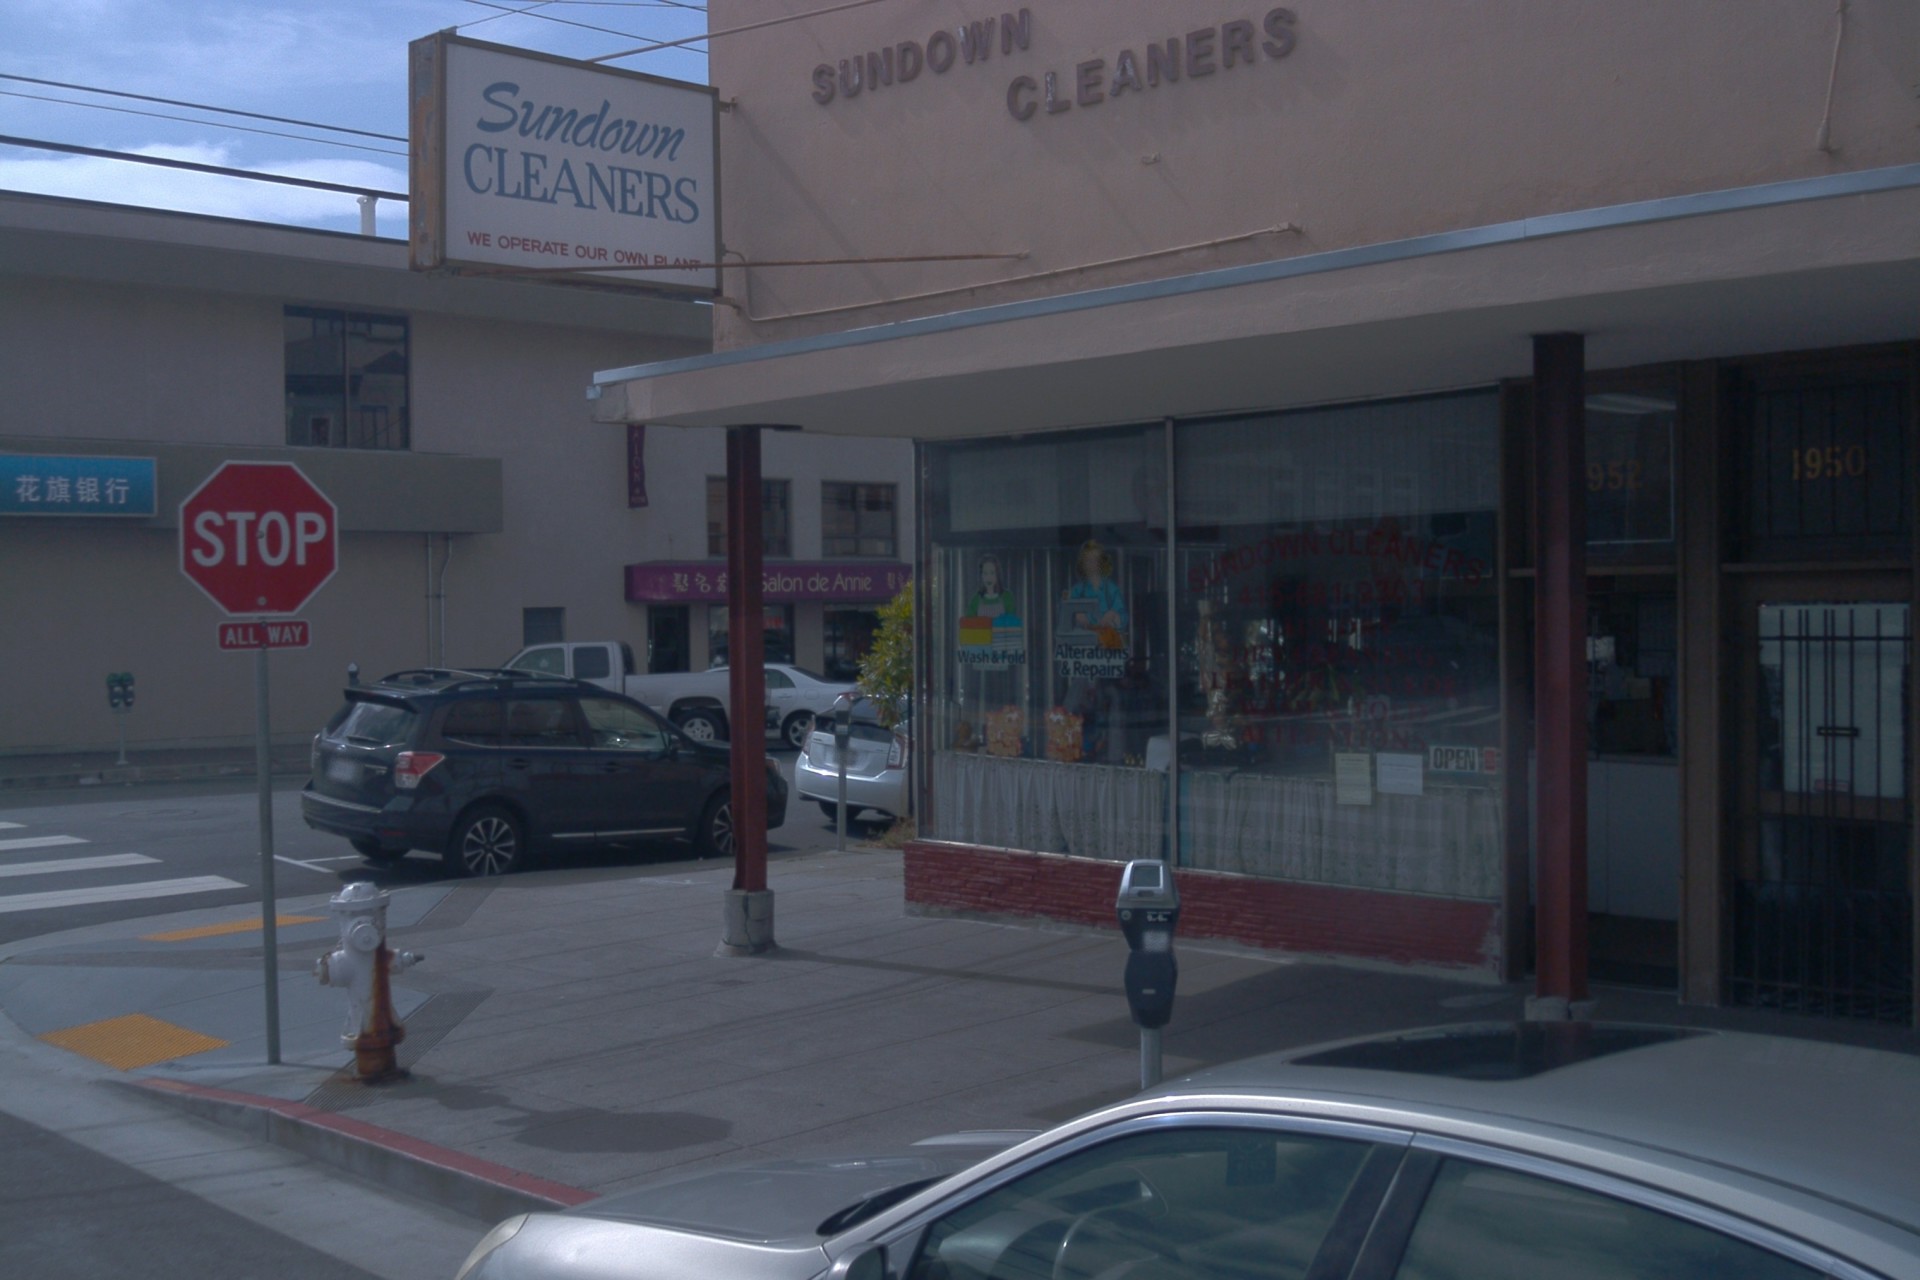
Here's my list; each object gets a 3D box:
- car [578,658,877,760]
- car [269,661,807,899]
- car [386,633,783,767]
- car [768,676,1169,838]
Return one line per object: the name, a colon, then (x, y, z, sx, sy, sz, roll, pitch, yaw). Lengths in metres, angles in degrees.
car: (-3.844, 1.126, 34.739, 4.699, 1.630, 2.090, 0, -1, 4)
car: (-3.696, 1.138, 18.698, 2.005, 1.877, 4.386, 0, -1, 44)
car: (-5.719, 0.911, 32.224, 5.805, 1.970, 2.405, 0, -1, -2)
car: (0.172, 1.187, 22.531, 2.020, 1.567, 4.203, 0, -1, 44)
